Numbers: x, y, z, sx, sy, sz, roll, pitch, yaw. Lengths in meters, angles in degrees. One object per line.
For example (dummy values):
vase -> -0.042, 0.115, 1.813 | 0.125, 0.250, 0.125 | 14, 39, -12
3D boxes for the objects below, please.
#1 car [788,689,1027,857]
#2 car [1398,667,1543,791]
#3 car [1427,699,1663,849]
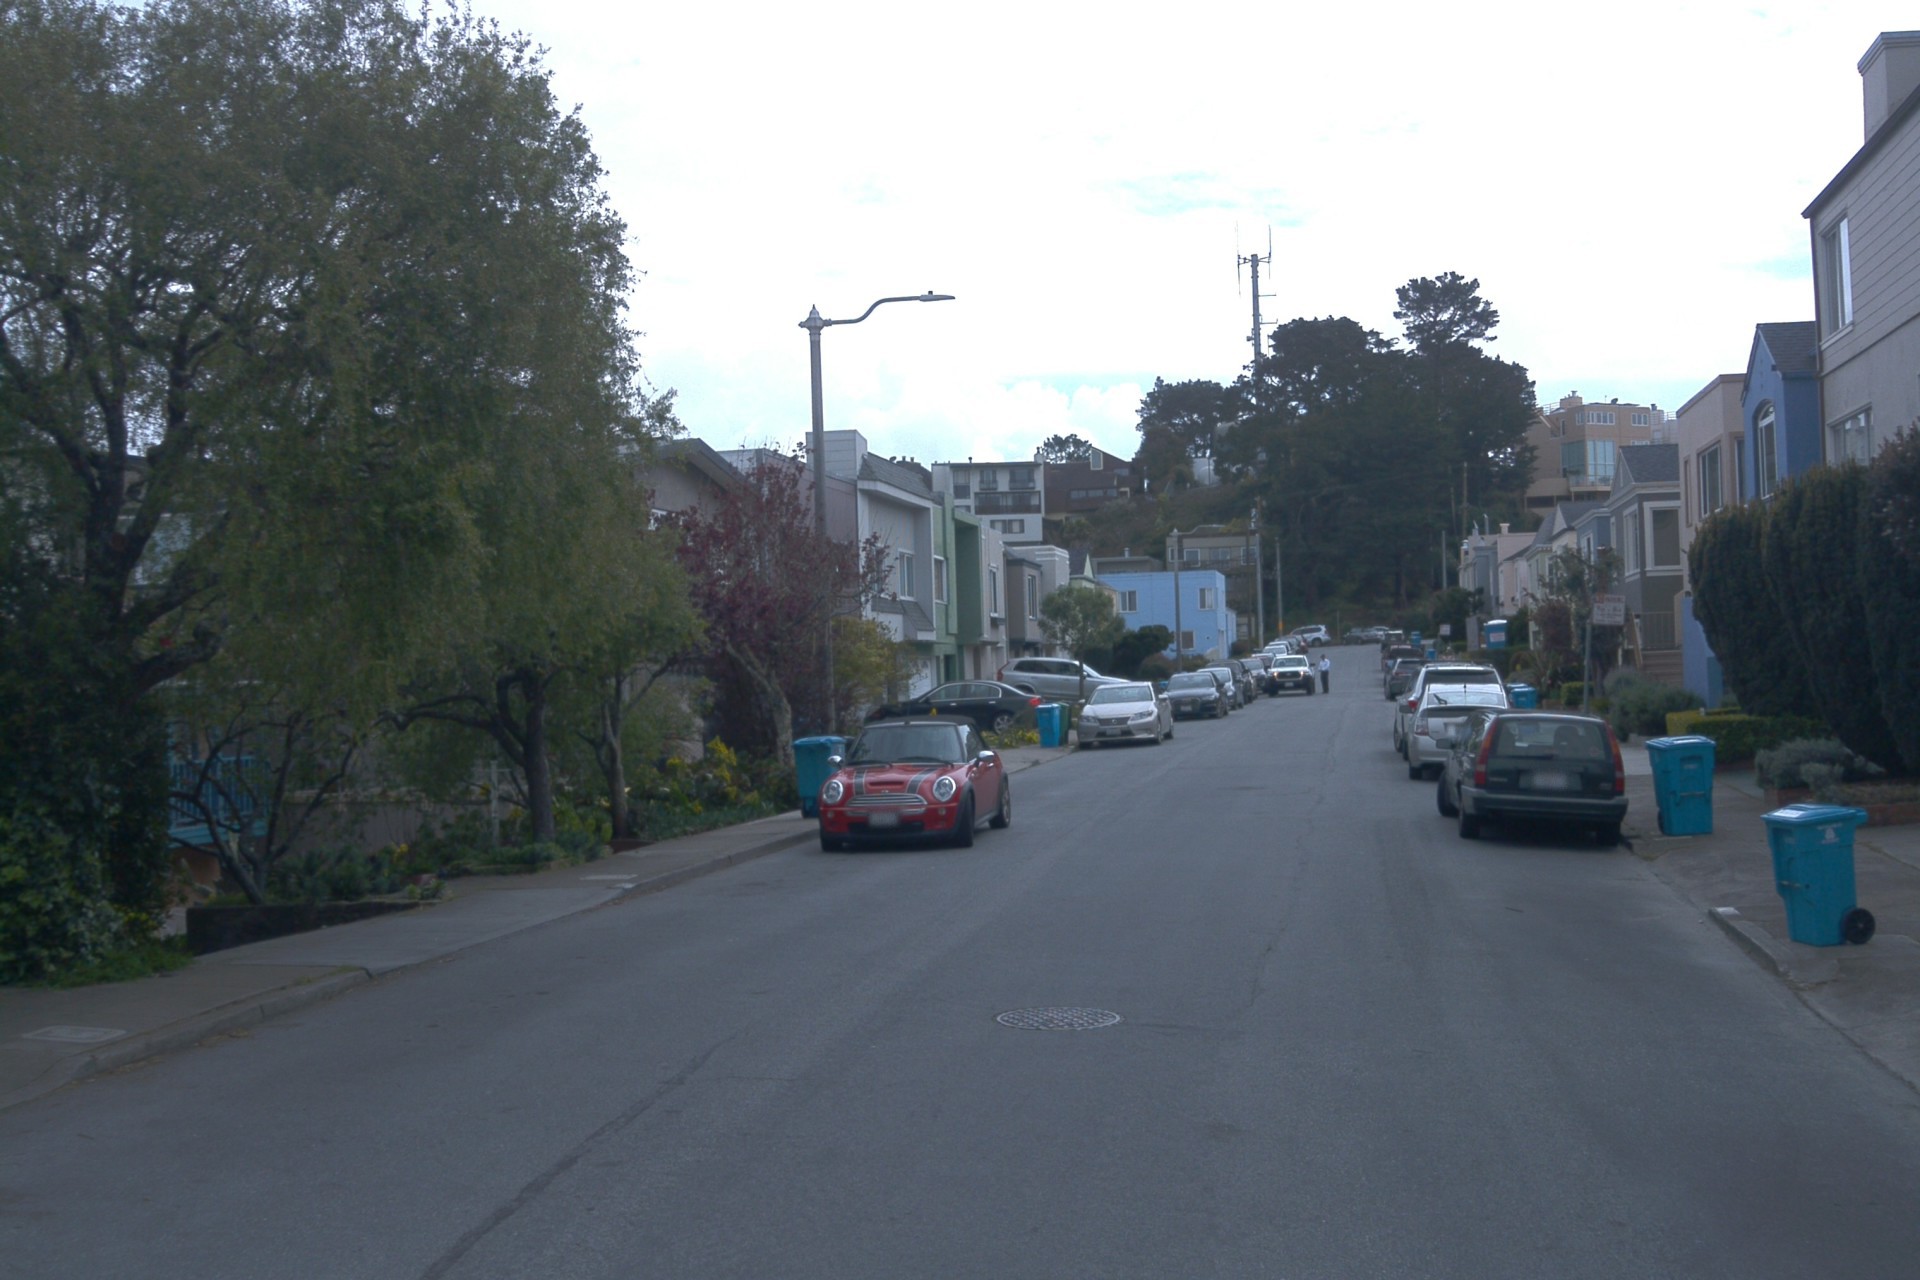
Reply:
car -> -0.497, 1.425, 23.545 | 1.995, 1.670, 3.838 | 0, 0, 10
car -> 8.069, 1.346, 33.004 | 2.088, 1.790, 4.603 | 0, 0, 12
car -> 6.584, 1.449, 23.838 | 2.071, 1.420, 4.832 | 0, 0, 9
